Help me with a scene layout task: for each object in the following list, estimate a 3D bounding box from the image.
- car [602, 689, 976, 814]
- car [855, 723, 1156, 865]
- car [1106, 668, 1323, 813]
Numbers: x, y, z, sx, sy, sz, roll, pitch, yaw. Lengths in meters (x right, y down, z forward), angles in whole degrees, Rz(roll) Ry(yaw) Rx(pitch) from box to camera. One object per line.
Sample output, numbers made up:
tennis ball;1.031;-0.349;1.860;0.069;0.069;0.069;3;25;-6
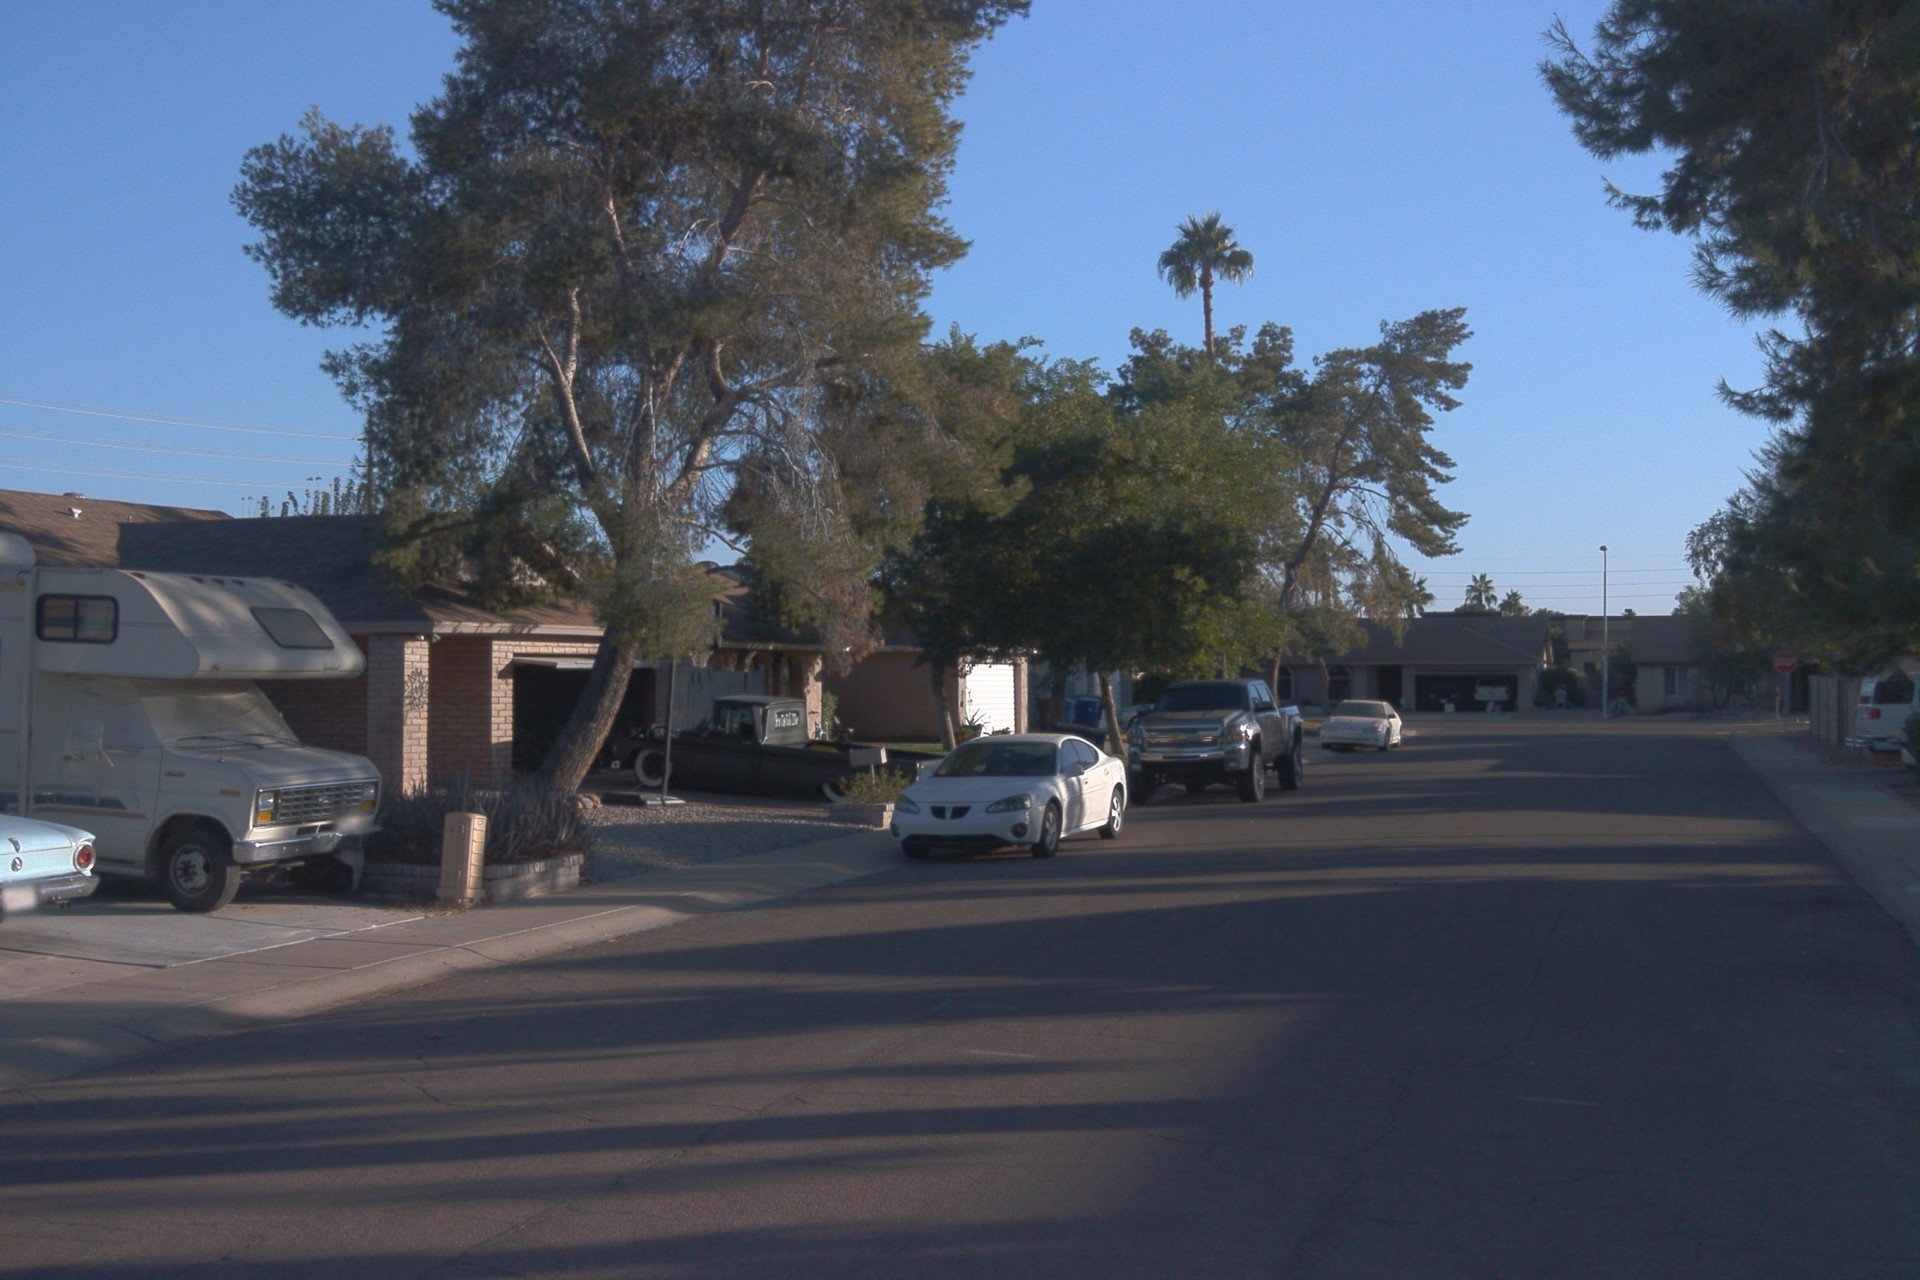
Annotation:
car;-2.710;1.716;33.078;5.465;1.810;2.326;0;-1;19
car;0.712;1.837;26.002;2.203;1.460;5.060;0;-1;21
car;4.658;1.695;36.855;2.531;2.330;6.151;0;-1;20
